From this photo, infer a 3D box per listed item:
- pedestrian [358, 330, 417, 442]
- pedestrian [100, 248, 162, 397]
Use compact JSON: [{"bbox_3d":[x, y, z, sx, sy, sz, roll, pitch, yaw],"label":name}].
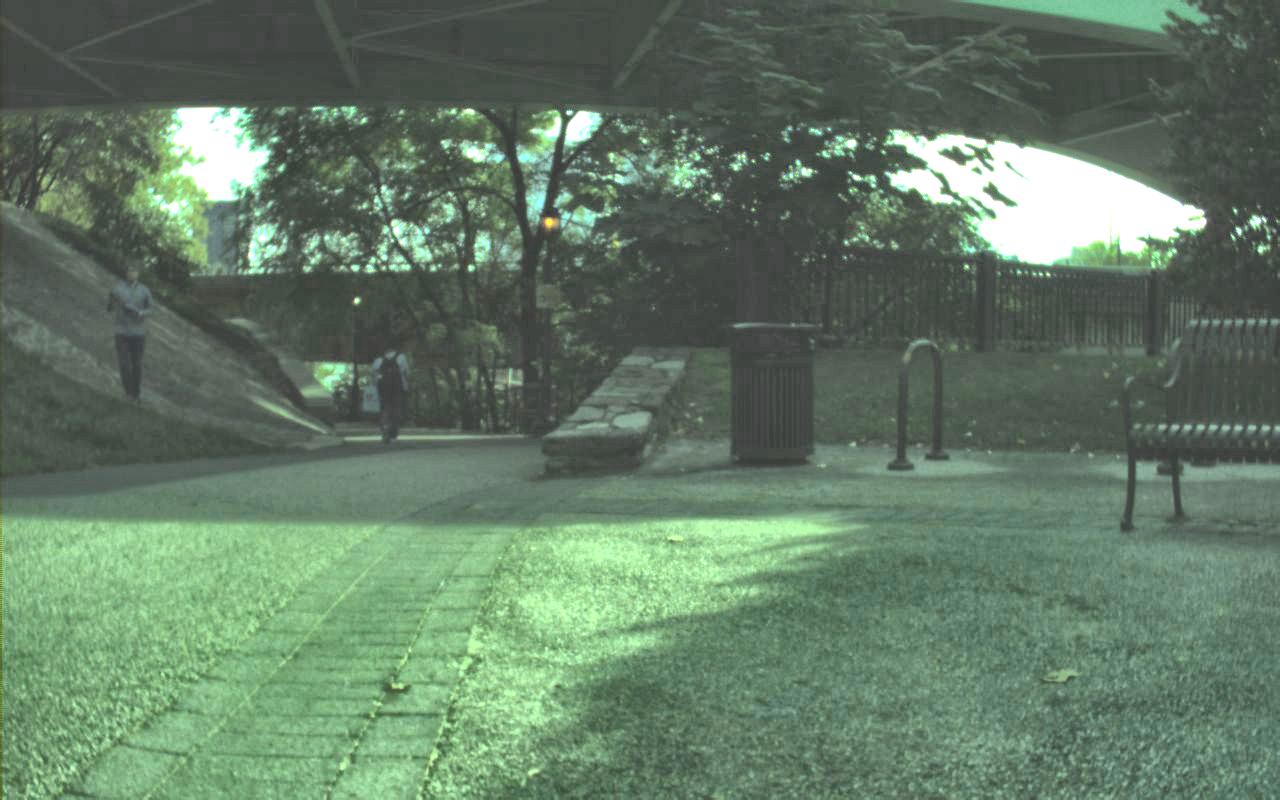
[{"bbox_3d":[-3.923,-0.214,19.318,0.867,1.692,0.900,0,0,-9],"label":"pedestrian"},{"bbox_3d":[-6.524,-0.947,14.917,0.766,1.854,0.748,0,0,-27],"label":"pedestrian"}]
